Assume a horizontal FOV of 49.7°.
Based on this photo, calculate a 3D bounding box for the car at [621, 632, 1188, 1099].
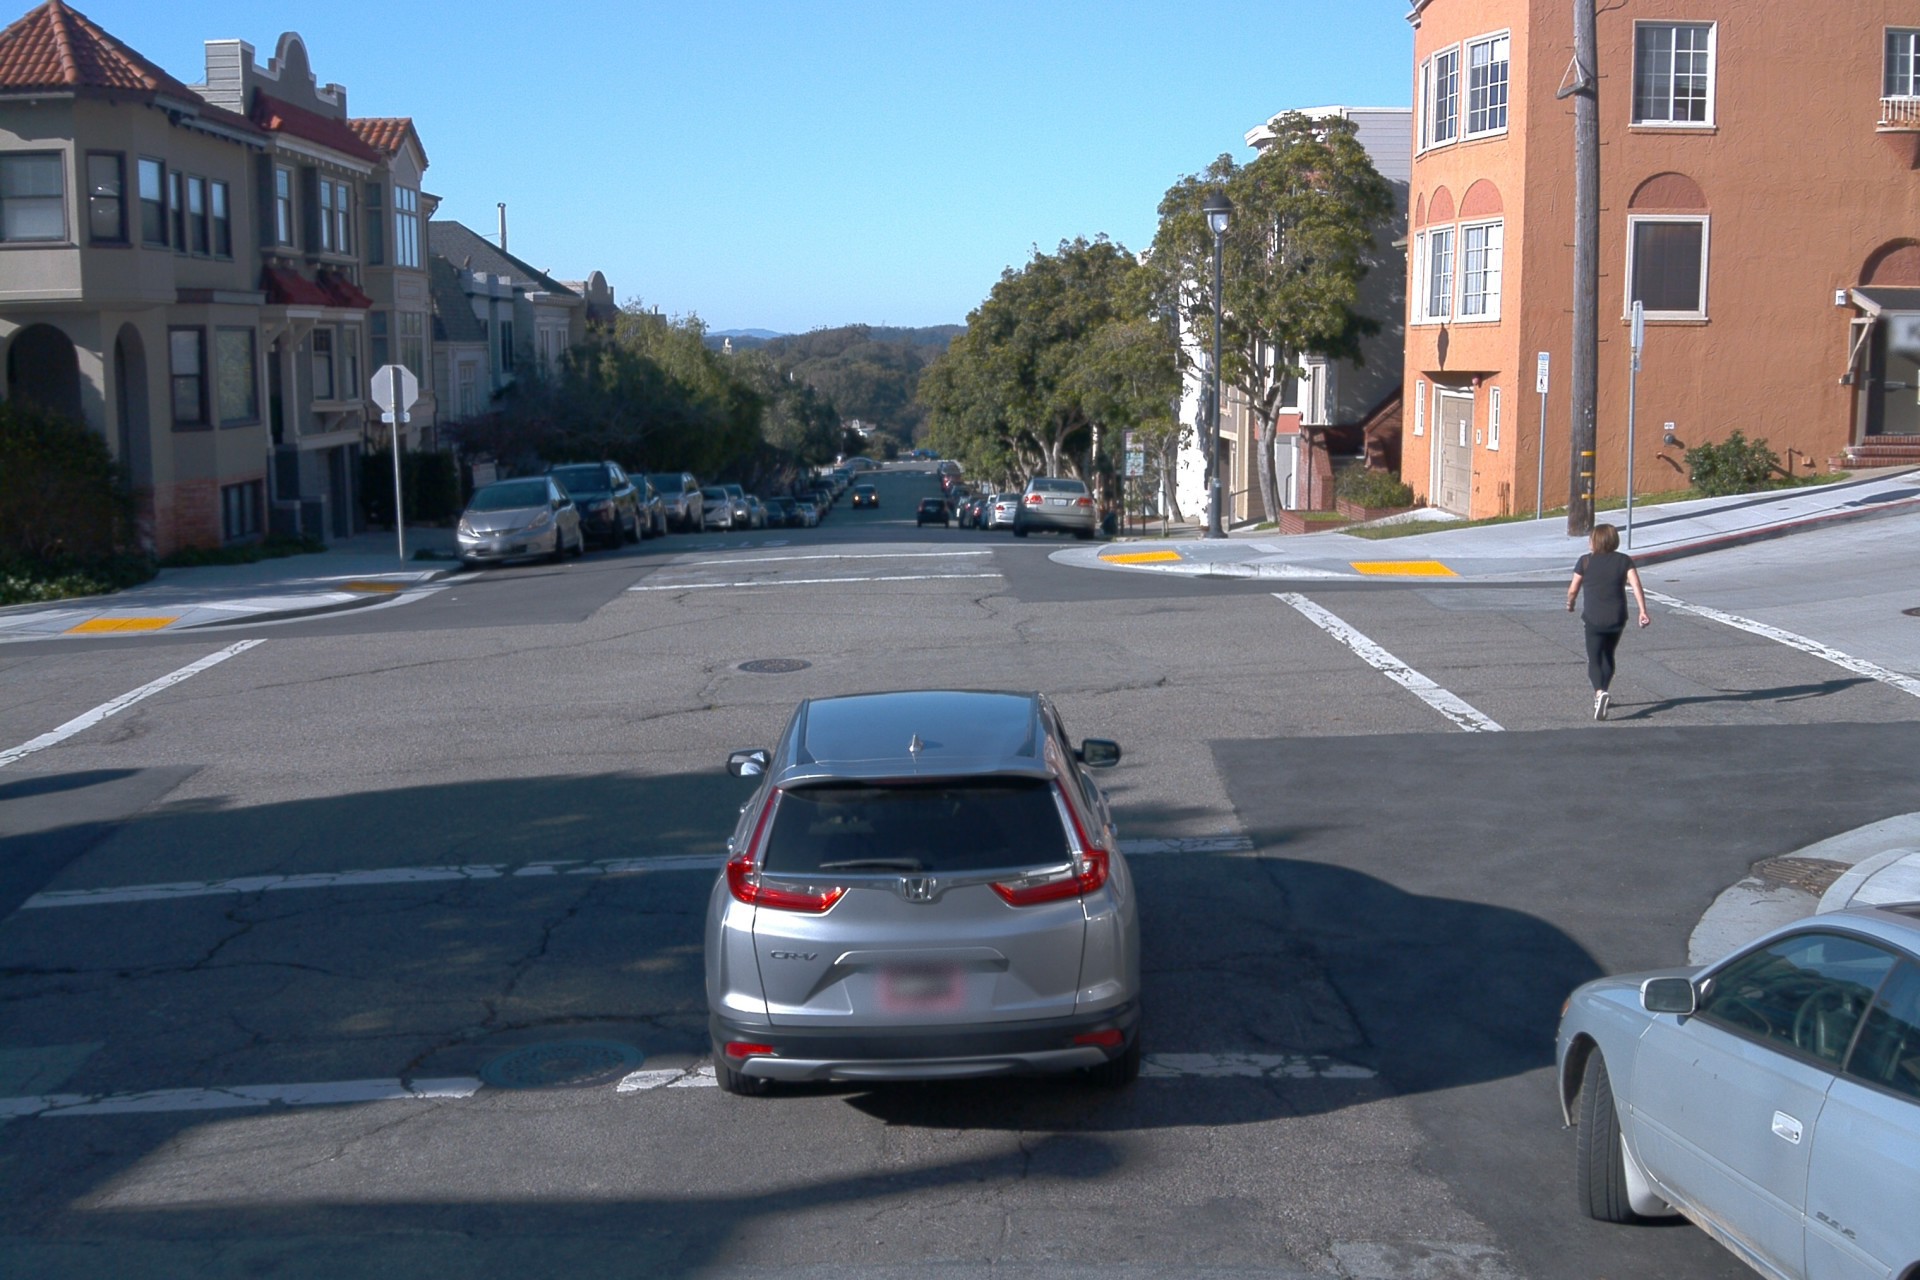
[{"bbox_3d":[-0.238,0.883,10.349,2.191,1.800,4.695,0,0,-1],"label":"car"}]

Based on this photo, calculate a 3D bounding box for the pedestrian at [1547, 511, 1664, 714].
[{"bbox_3d":[5.314,-0.218,17.099,0.730,1.620,1.129,0,0,7],"label":"pedestrian"}]
